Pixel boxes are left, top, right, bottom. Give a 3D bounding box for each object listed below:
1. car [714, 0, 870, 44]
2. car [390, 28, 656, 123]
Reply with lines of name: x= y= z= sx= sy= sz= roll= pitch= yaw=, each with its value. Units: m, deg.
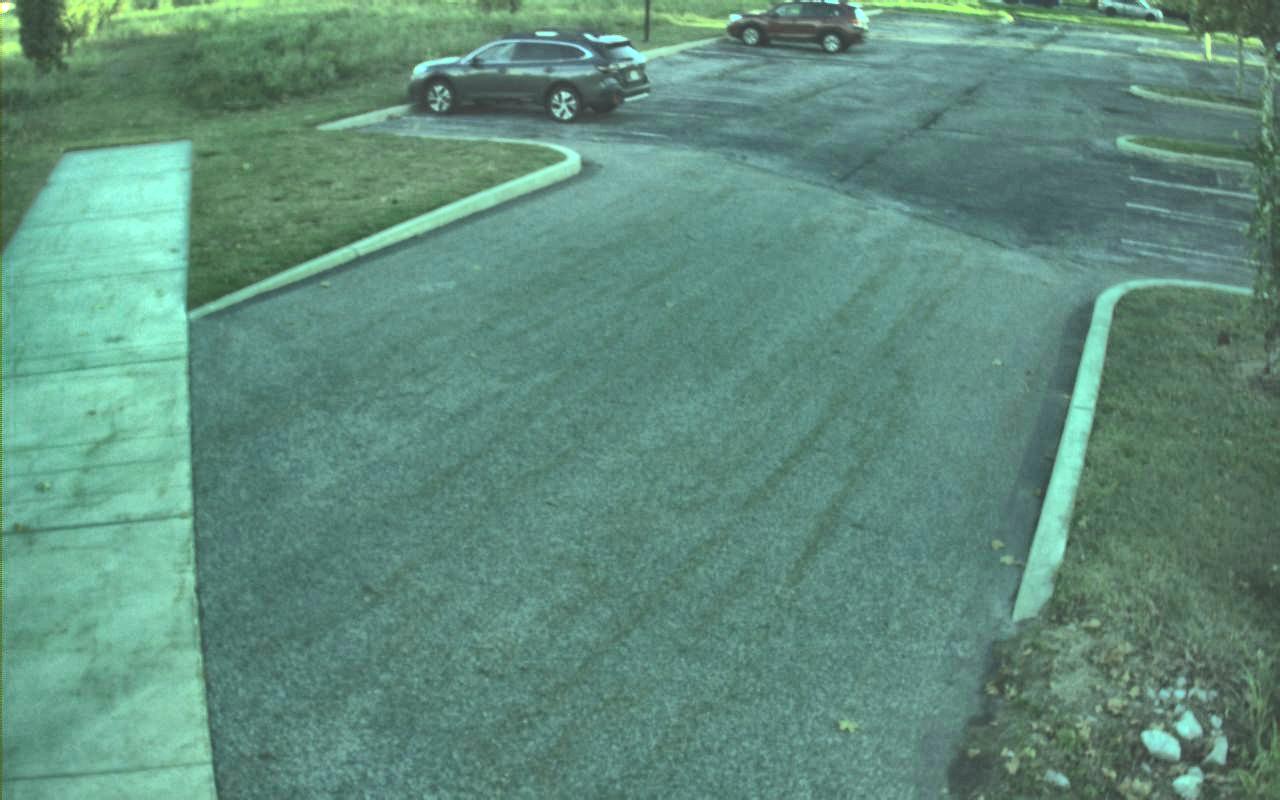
car: x=4.923 y=-12.309 z=39.329 sx=4.732 sy=1.699 sz=2.031 roll=4 pitch=16 yaw=18
car: x=-2.286 y=-6.232 z=23.676 sx=4.731 sy=1.660 sz=2.020 roll=6 pitch=17 yaw=23
